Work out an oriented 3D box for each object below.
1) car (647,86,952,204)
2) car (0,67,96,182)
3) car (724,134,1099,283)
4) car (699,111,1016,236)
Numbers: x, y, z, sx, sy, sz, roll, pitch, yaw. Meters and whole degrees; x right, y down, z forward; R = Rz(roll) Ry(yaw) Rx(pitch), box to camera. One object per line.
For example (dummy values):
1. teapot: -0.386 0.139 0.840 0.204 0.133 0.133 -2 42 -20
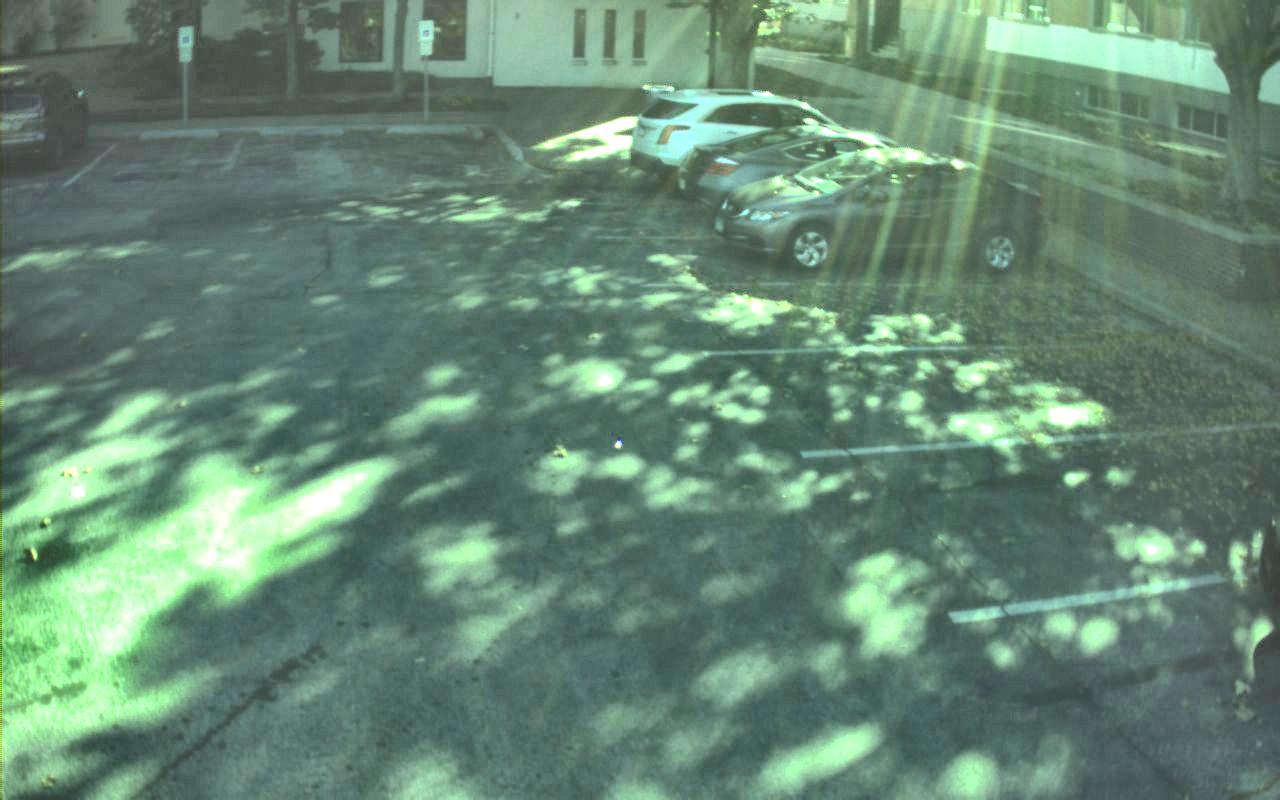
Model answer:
1. car: 2.647 -4.290 20.477 4.668 1.674 2.005 -6 17 -15
2. car: -11.930 -5.384 21.522 2.015 1.736 4.611 -5 17 -15
3. car: 3.522 -2.572 15.913 4.554 1.549 1.963 -5 17 -11
4. car: 3.177 -3.384 18.092 4.311 1.545 1.908 -4 17 -11
